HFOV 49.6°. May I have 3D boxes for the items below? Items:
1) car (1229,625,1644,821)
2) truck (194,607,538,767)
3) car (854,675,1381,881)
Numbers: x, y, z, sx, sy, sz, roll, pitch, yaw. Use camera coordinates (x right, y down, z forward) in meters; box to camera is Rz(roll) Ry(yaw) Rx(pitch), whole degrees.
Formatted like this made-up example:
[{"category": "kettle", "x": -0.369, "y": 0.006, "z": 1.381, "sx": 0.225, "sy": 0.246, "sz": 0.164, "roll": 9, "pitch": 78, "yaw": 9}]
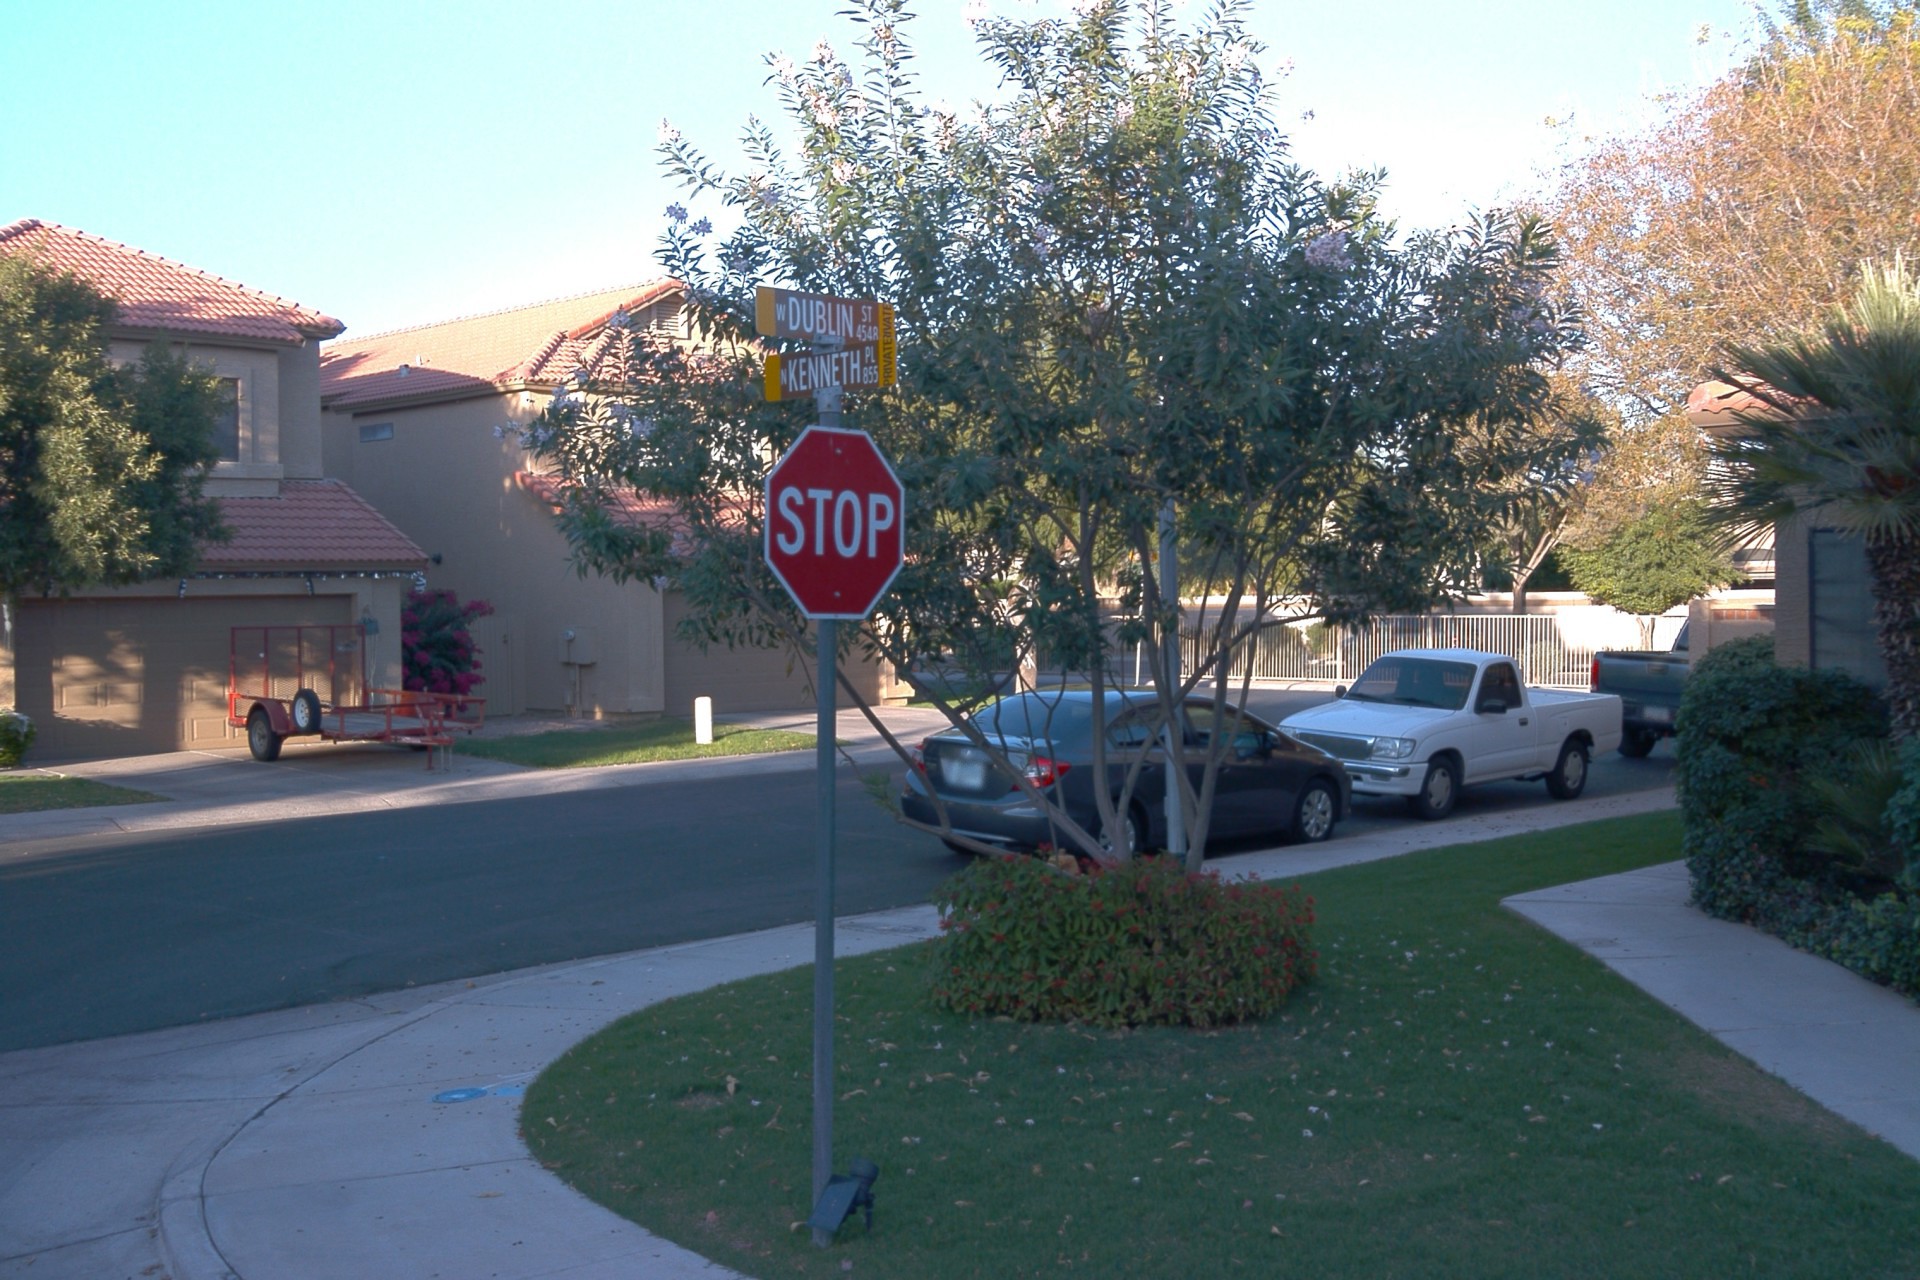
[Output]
[{"category": "car", "x": 5.021, "y": 0.783, "z": 21.448, "sx": 2.021, "sy": 1.800, "sz": 4.702, "roll": 0, "pitch": -1, "yaw": 44}, {"category": "truck", "x": -7.830, "y": 0.582, "z": 27.179, "sx": 2.622, "sy": 1.900, "sz": 4.348, "roll": 1, "pitch": -1, "yaw": -43}, {"category": "car", "x": 1.444, "y": 1.052, "z": 17.552, "sx": 2.054, "sy": 1.470, "sz": 4.462, "roll": 0, "pitch": -1, "yaw": 44}]
